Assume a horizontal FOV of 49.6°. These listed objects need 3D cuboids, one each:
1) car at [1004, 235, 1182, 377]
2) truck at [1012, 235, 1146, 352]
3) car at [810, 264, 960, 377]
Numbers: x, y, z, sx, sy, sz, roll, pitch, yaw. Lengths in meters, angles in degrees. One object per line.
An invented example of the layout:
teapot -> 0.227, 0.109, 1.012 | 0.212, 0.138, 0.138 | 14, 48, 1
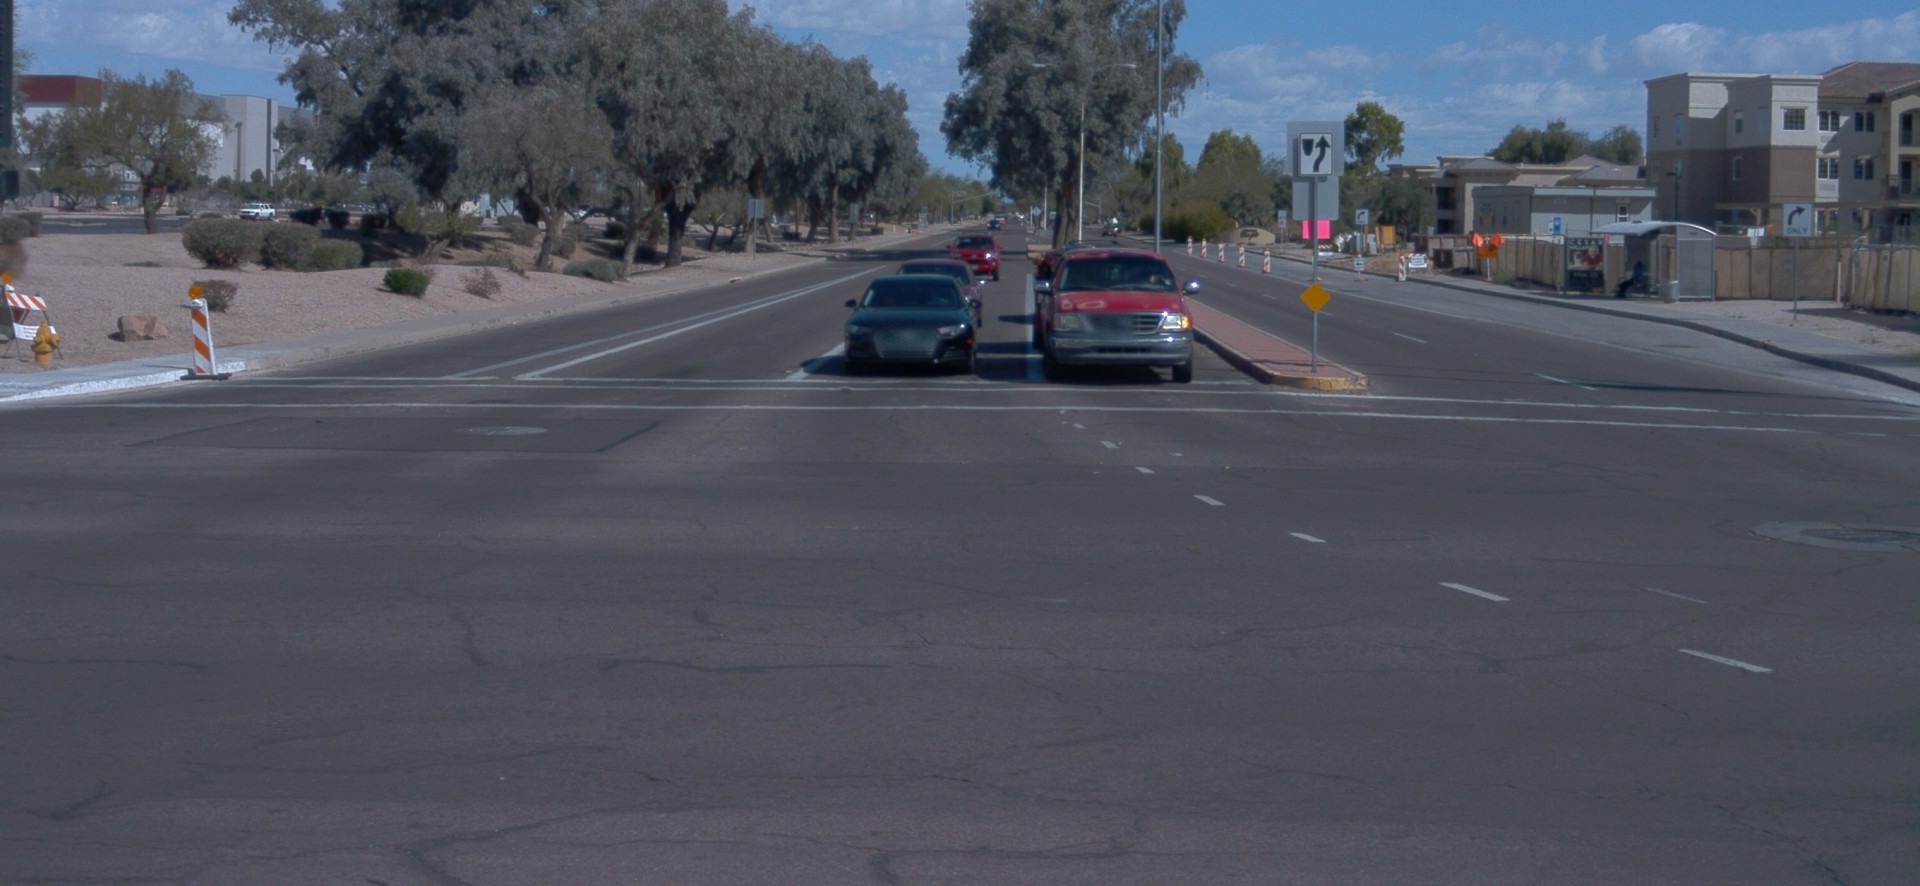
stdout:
car -> 1.843, -2.098, 30.288 | 2.313, 1.832, 5.709 | 1, 5, 2
truck -> 1.961, -2.606, 35.378 | 2.109, 1.833, 4.496 | 1, 5, 2
car -> -1.056, -1.932, 31.648 | 2.094, 1.484, 4.896 | 1, 5, 0
